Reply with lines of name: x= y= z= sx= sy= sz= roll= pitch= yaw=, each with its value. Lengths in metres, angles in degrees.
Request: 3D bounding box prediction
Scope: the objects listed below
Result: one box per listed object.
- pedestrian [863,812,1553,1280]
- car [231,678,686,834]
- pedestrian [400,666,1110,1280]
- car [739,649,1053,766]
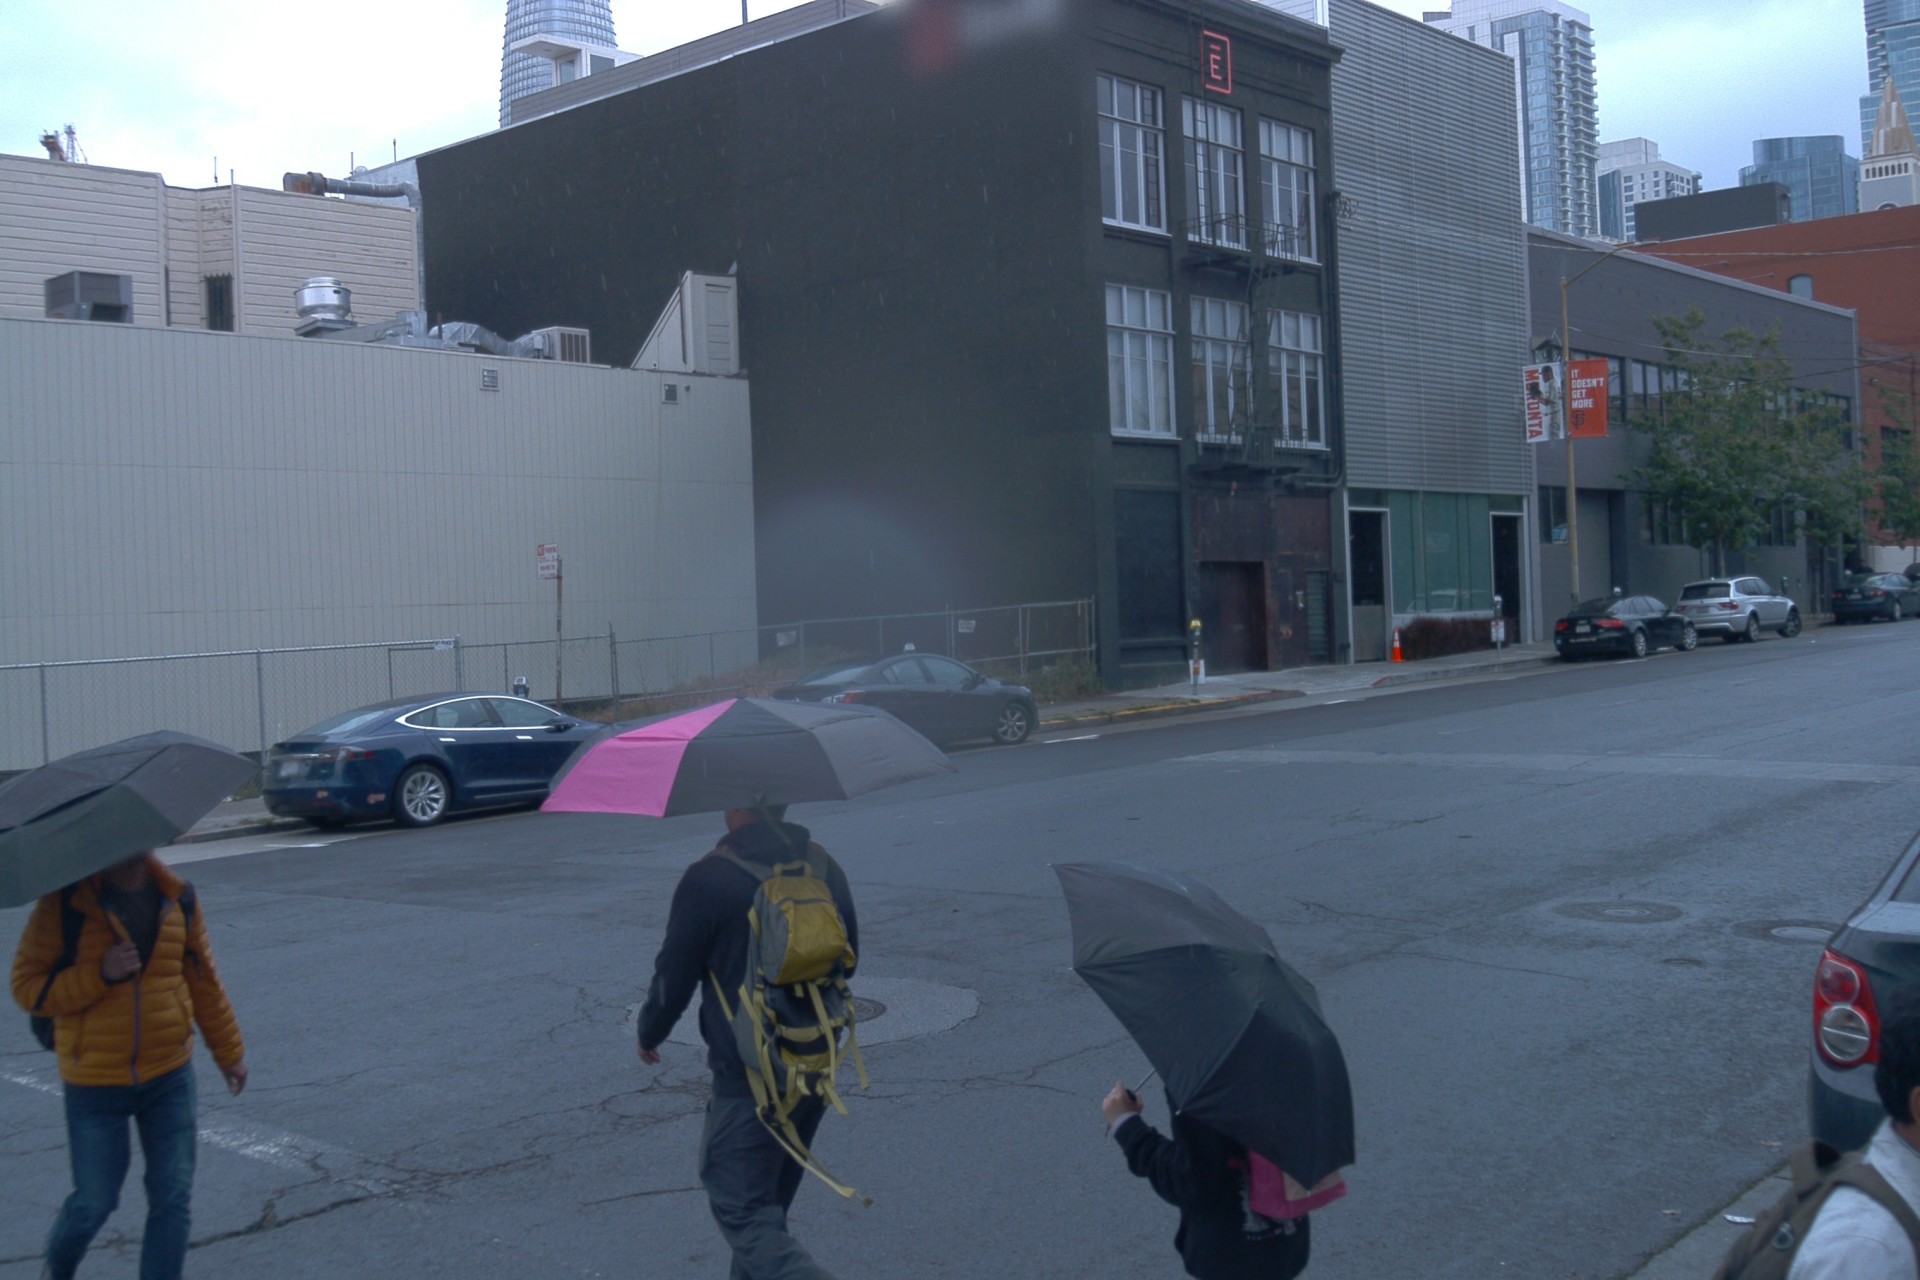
pedestrian: x=0.532 y=1.242 z=4.320 sx=1.065 sy=1.652 sz=0.999 roll=0 pitch=-1 yaw=37
car: x=-5.572 y=1.225 z=23.539 sx=2.011 sy=1.550 sz=4.768 roll=0 pitch=-1 yaw=40
pedestrian: x=-0.564 y=1.054 z=5.768 sx=1.411 sy=1.953 sz=1.357 roll=0 pitch=-1 yaw=42
car: x=-0.832 y=0.899 z=29.056 sx=2.005 sy=1.500 sz=4.289 roll=0 pitch=-1 yaw=41
